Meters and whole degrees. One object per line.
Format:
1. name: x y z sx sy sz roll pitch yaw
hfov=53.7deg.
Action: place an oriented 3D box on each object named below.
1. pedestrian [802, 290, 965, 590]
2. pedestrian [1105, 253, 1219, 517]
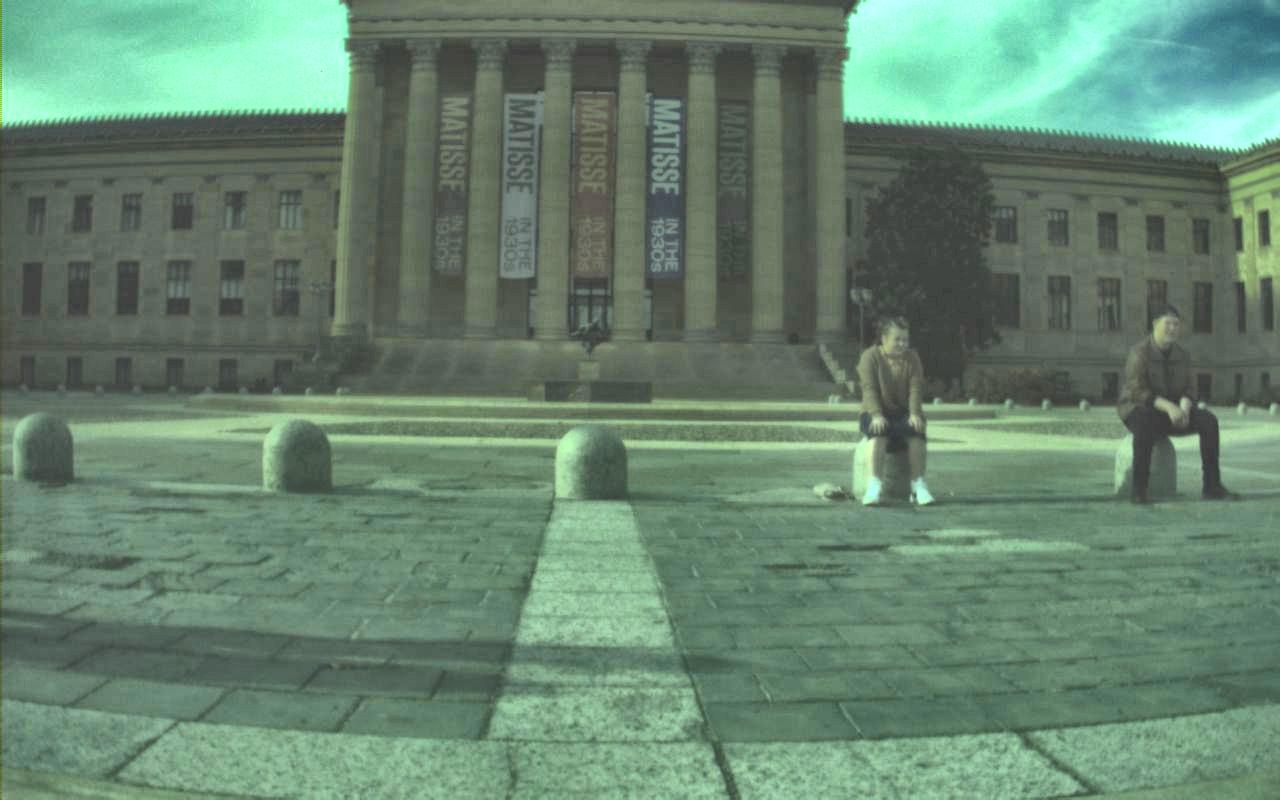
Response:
1. pedestrian: 1.569 0.233 7.892 0.843 1.793 0.846 1 0 24
2. pedestrian: 3.514 -0.088 7.910 0.720 1.706 0.744 1 0 17
